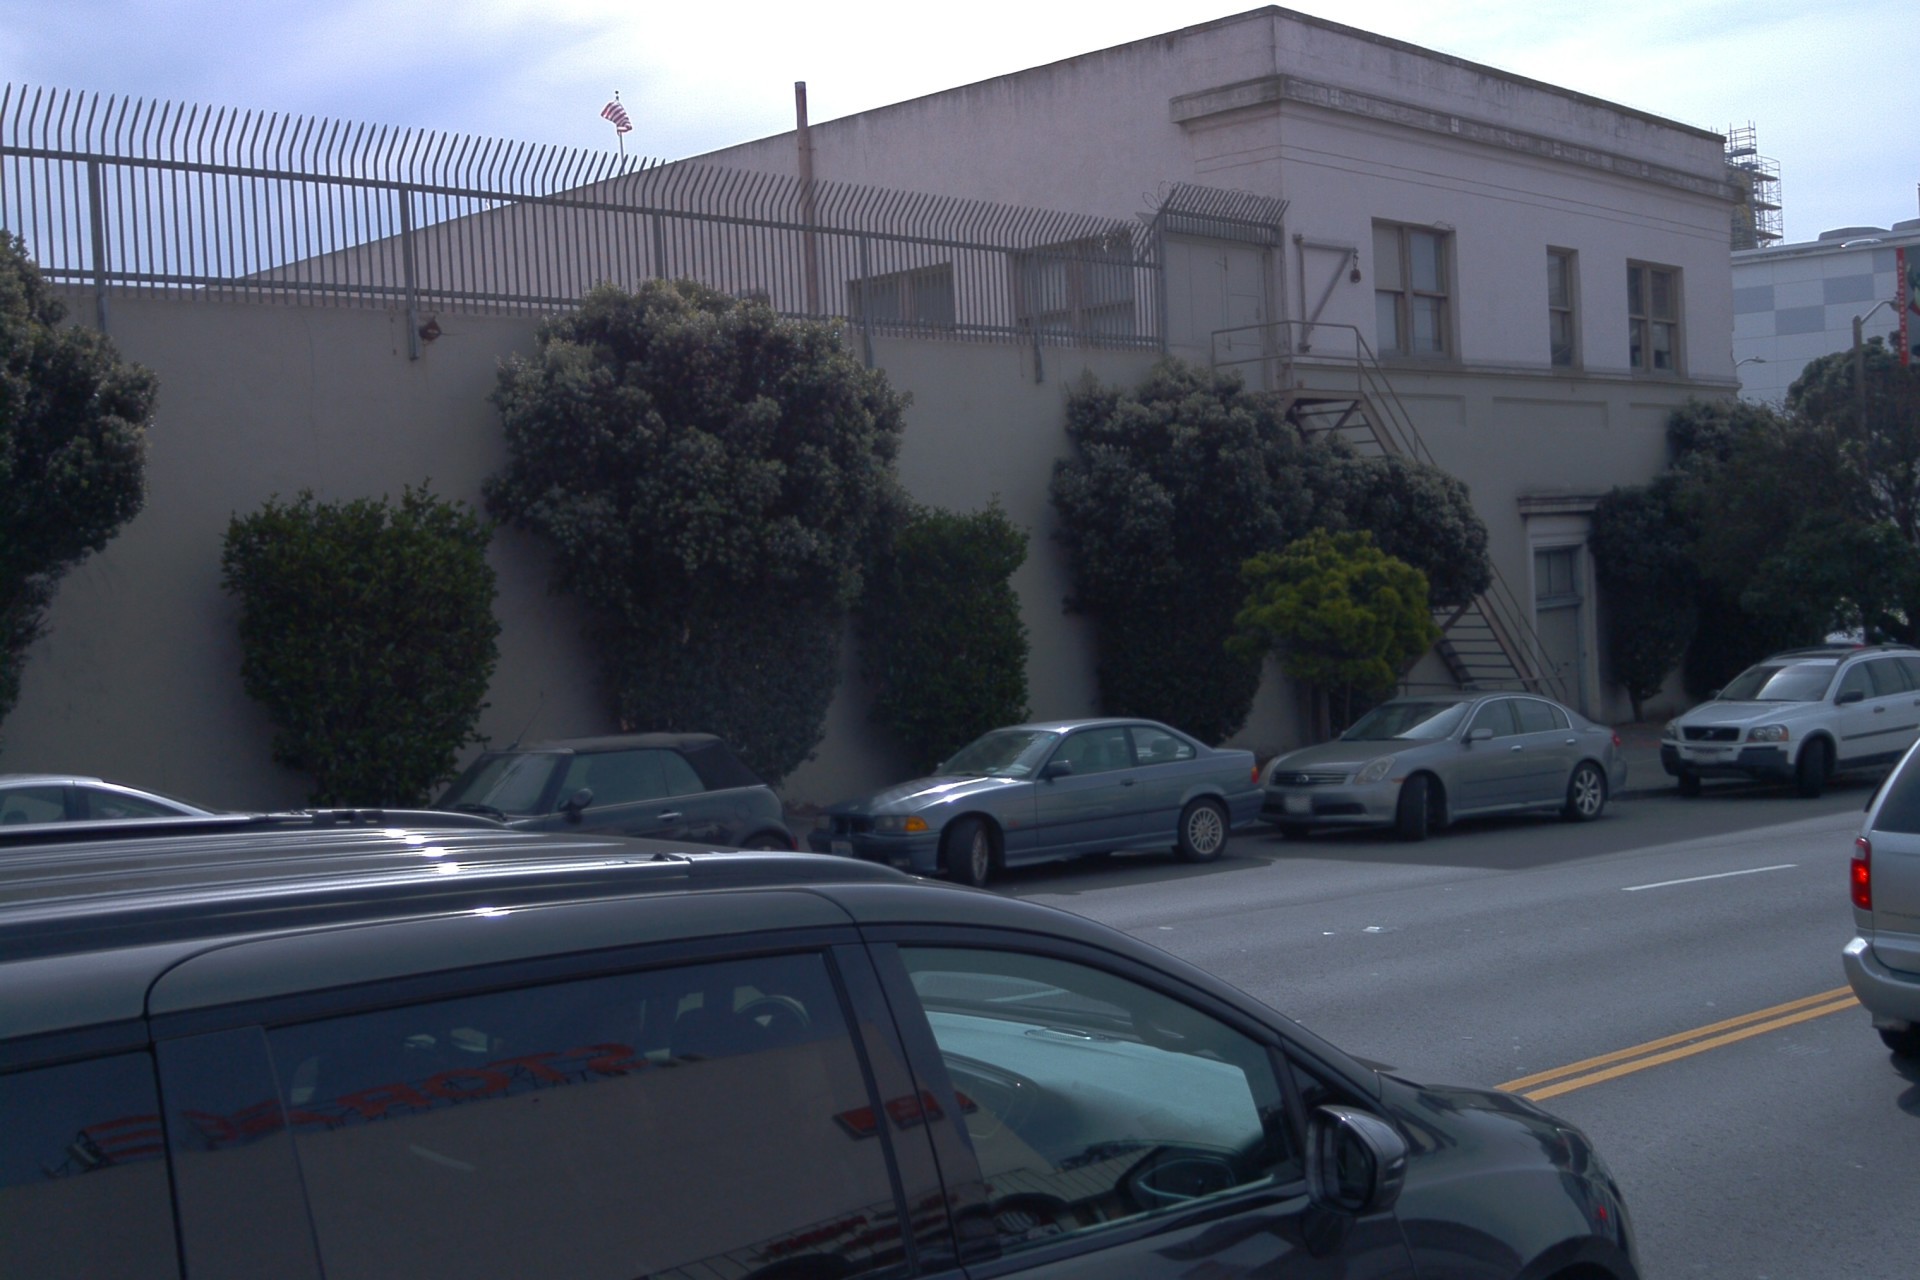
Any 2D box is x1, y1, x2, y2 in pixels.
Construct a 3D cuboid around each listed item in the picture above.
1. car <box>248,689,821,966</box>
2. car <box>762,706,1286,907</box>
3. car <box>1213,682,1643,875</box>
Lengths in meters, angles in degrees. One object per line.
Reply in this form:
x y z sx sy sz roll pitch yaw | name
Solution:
-3.003 1.237 14.998 1.796 1.600 3.729 1 1 44 | car
0.648 1.385 18.447 4.448 1.390 2.035 -1 1 -39 | car
5.011 1.351 21.684 4.687 1.660 2.019 -1 1 -41 | car
